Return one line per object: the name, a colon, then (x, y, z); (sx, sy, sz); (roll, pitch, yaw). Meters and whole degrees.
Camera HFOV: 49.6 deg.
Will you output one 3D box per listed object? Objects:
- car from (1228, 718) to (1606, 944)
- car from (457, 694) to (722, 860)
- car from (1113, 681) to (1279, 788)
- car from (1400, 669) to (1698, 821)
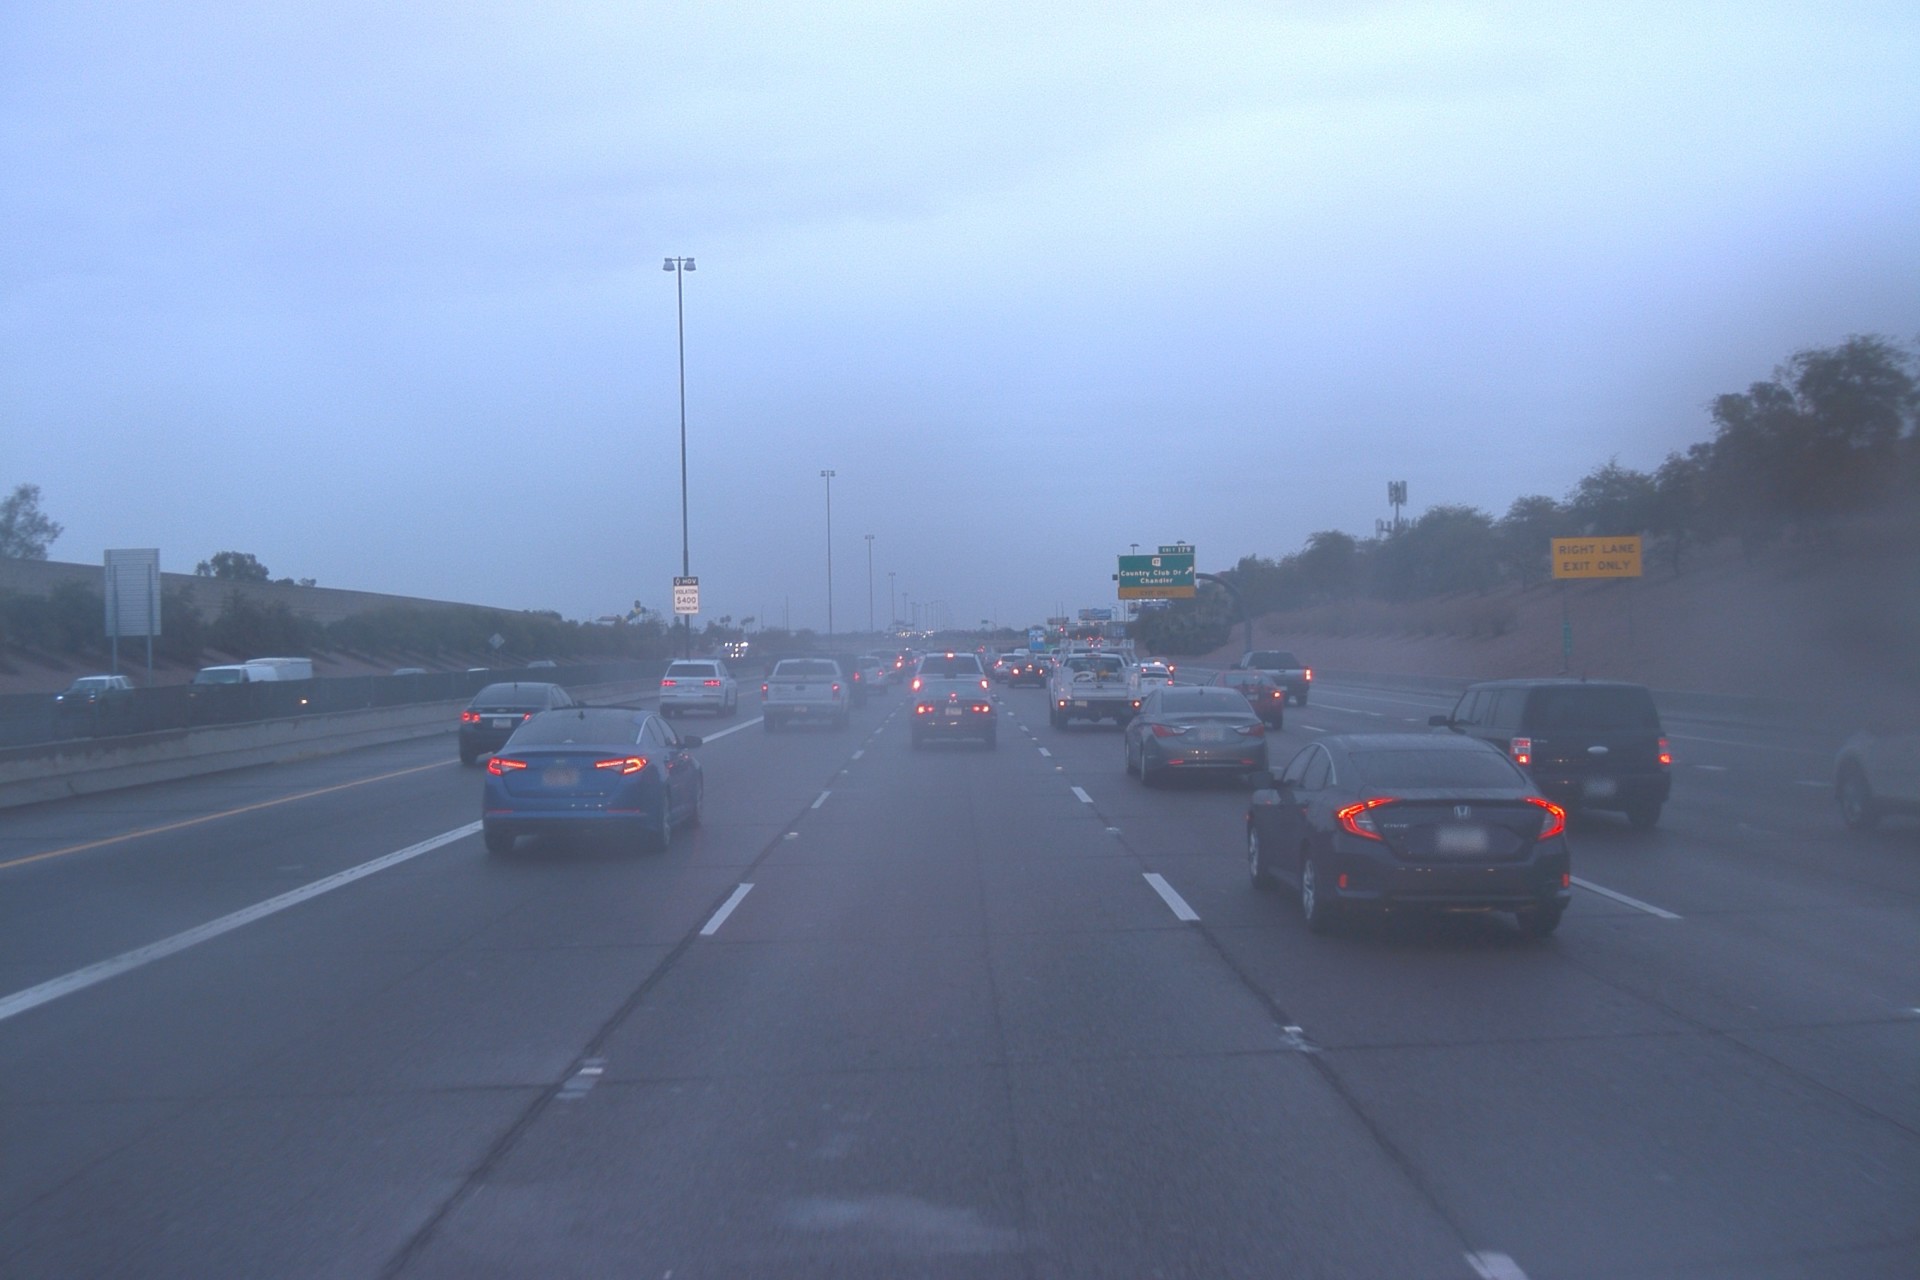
car: (3.354, 1.367, 16.142); (1.973, 1.380, 4.334); (0, 0, 0)
car: (-3.847, 1.386, 22.347); (1.988, 1.510, 4.517); (0, 0, 1)
car: (3.530, 1.392, 31.819); (2.017, 1.450, 4.379); (0, 0, 0)
car: (6.979, 1.184, 25.217); (2.228, 1.630, 4.896); (0, 0, 0)
